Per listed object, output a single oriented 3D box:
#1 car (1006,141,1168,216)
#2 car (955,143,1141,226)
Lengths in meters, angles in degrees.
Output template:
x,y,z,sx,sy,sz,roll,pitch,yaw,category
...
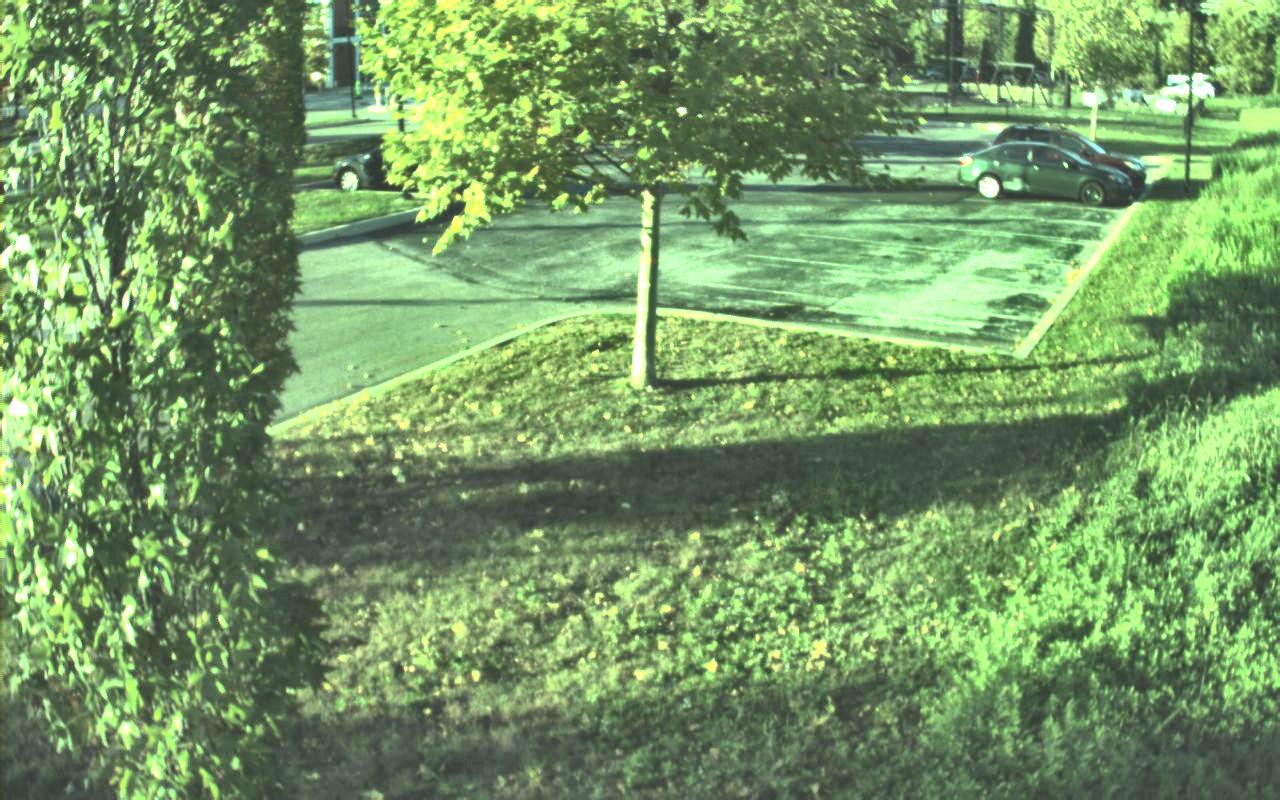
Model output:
x,y,z,sx,sy,sz,roll,pitch,yaw,category
12.106,-5.974,32.041,4.433,1.578,1.968,5,16,22,car
10.359,-5.450,30.287,4.634,1.620,2.003,7,17,26,car
